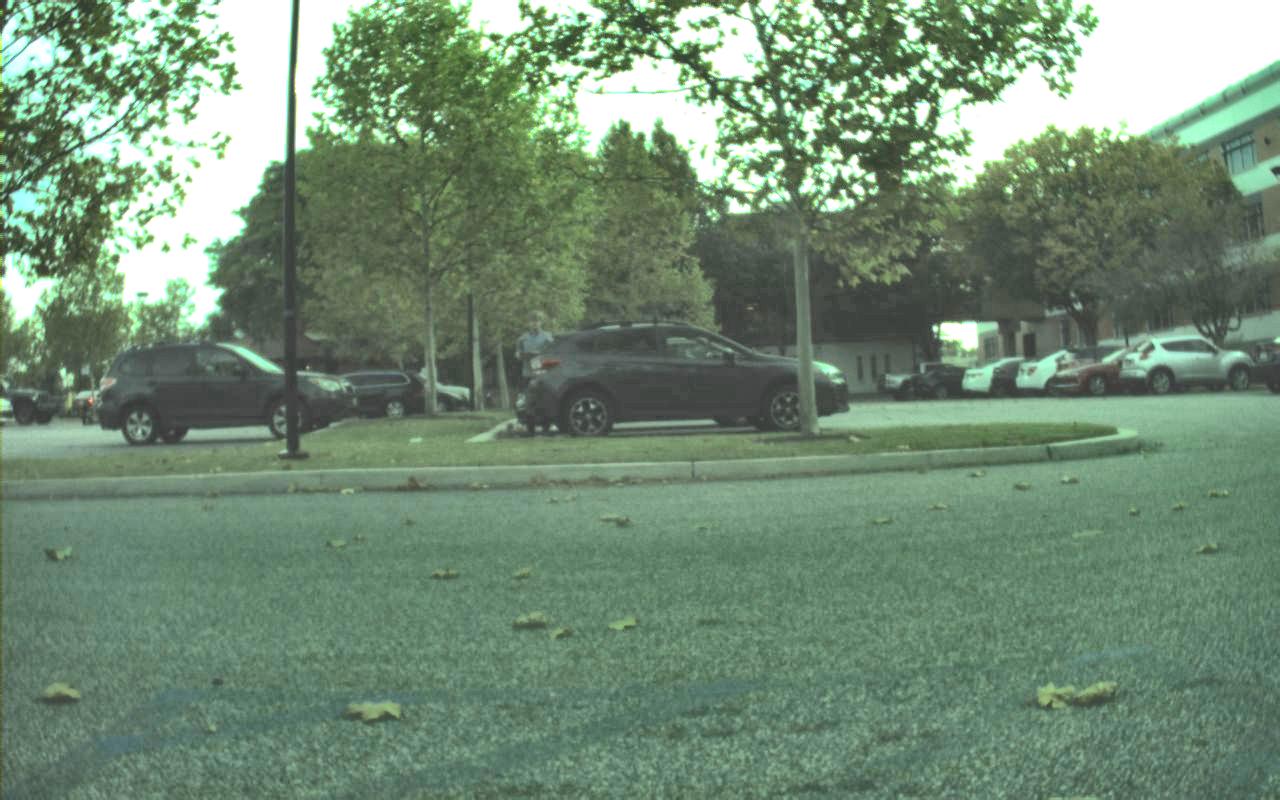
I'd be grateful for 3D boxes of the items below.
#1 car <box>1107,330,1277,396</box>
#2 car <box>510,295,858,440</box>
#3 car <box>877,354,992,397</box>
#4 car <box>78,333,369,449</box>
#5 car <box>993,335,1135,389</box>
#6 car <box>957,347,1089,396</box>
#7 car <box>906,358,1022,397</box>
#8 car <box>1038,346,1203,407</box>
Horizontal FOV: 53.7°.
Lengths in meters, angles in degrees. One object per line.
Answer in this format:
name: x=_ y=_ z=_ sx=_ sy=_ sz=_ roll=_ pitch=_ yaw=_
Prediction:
car: x=14.921 y=-0.903 z=31.413 sx=4.542 sy=1.714 sz=1.976 roll=0 pitch=1 yaw=-1
car: x=0.533 y=-0.439 z=17.518 sx=4.614 sy=1.872 sz=2.000 roll=0 pitch=1 yaw=-5
car: x=13.610 y=-1.111 z=57.257 sx=5.006 sy=1.917 sz=2.100 roll=0 pitch=1 yaw=-3
car: x=-6.985 y=-0.162 z=20.095 sx=4.756 sy=1.803 sz=2.038 roll=0 pitch=1 yaw=-3
car: x=13.825 y=-1.183 z=39.468 sx=4.536 sy=1.714 sz=1.990 roll=1 pitch=1 yaw=8
car: x=13.972 y=-0.996 z=44.514 sx=4.576 sy=1.719 sz=1.997 roll=0 pitch=1 yaw=0
car: x=13.726 y=-0.901 z=52.203 sx=4.588 sy=1.601 sz=1.961 roll=0 pitch=1 yaw=-10
car: x=13.725 y=-0.601 z=33.998 sx=4.558 sy=1.665 sz=1.981 roll=0 pitch=1 yaw=1
